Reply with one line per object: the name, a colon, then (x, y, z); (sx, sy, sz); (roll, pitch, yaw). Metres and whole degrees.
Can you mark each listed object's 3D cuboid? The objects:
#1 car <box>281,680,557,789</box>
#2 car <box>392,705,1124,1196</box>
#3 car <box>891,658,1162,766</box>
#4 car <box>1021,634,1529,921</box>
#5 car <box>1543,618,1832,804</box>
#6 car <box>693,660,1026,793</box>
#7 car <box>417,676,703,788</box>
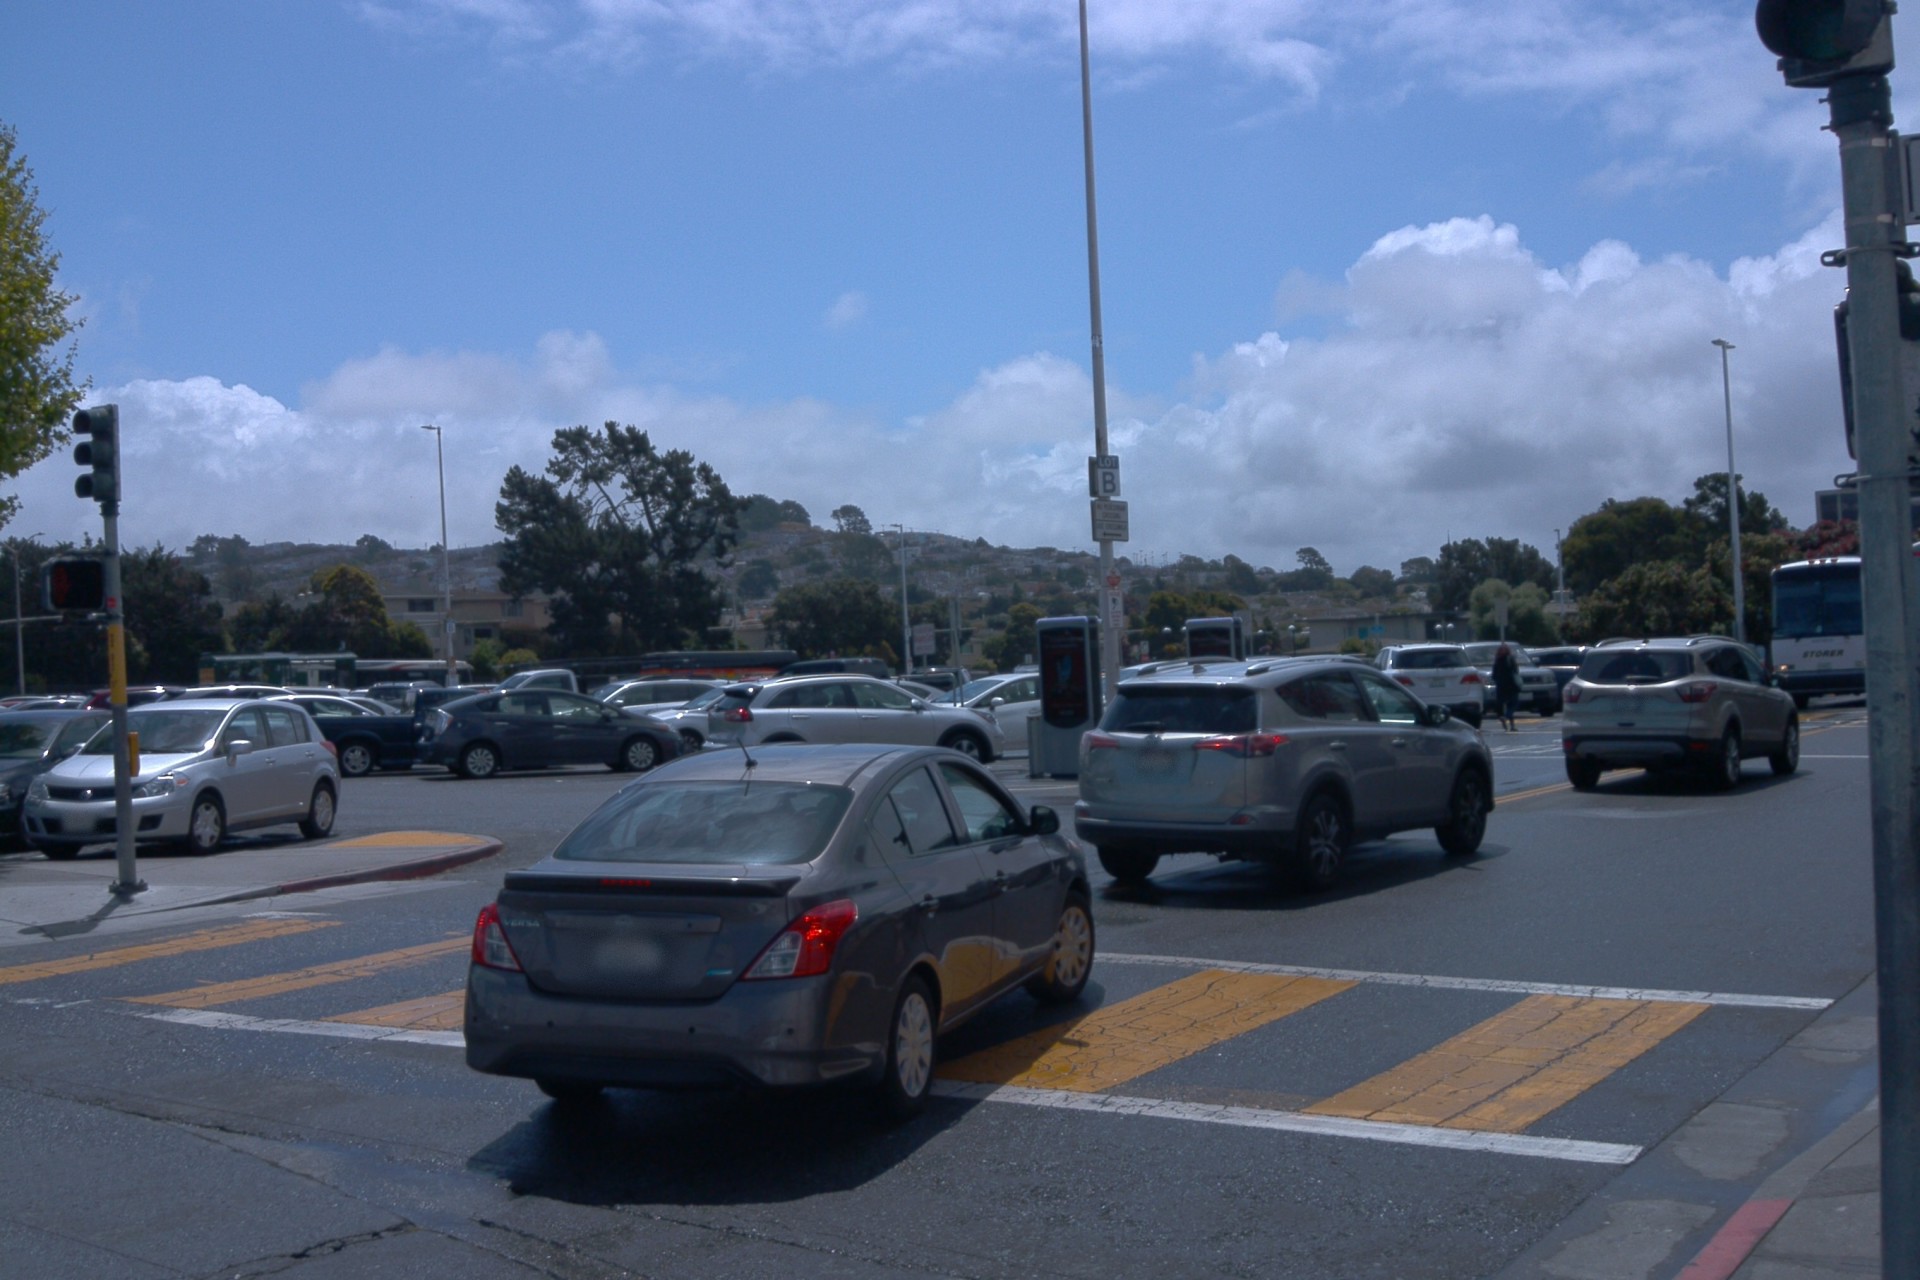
car: (-9.578, 1.621, 36.394); (4.428, 1.710, 2.061); (0, 0, -24)
car: (-0.653, 1.191, 9.723); (1.946, 1.580, 4.216); (0, 1, 18)
car: (1.172, 1.213, 36.011); (4.324, 1.700, 1.977); (0, 0, -27)
car: (2.641, 0.920, 16.294); (2.141, 1.900, 4.487); (0, 1, 36)
car: (8.556, 0.725, 23.968); (2.023, 1.960, 4.299); (0, 1, 36)
car: (-1.440, 1.181, 29.337); (4.307, 1.710, 1.957); (0, 0, -24)
car: (-6.813, 1.516, 34.963); (4.429, 1.710, 2.061); (0, 0, -23)
